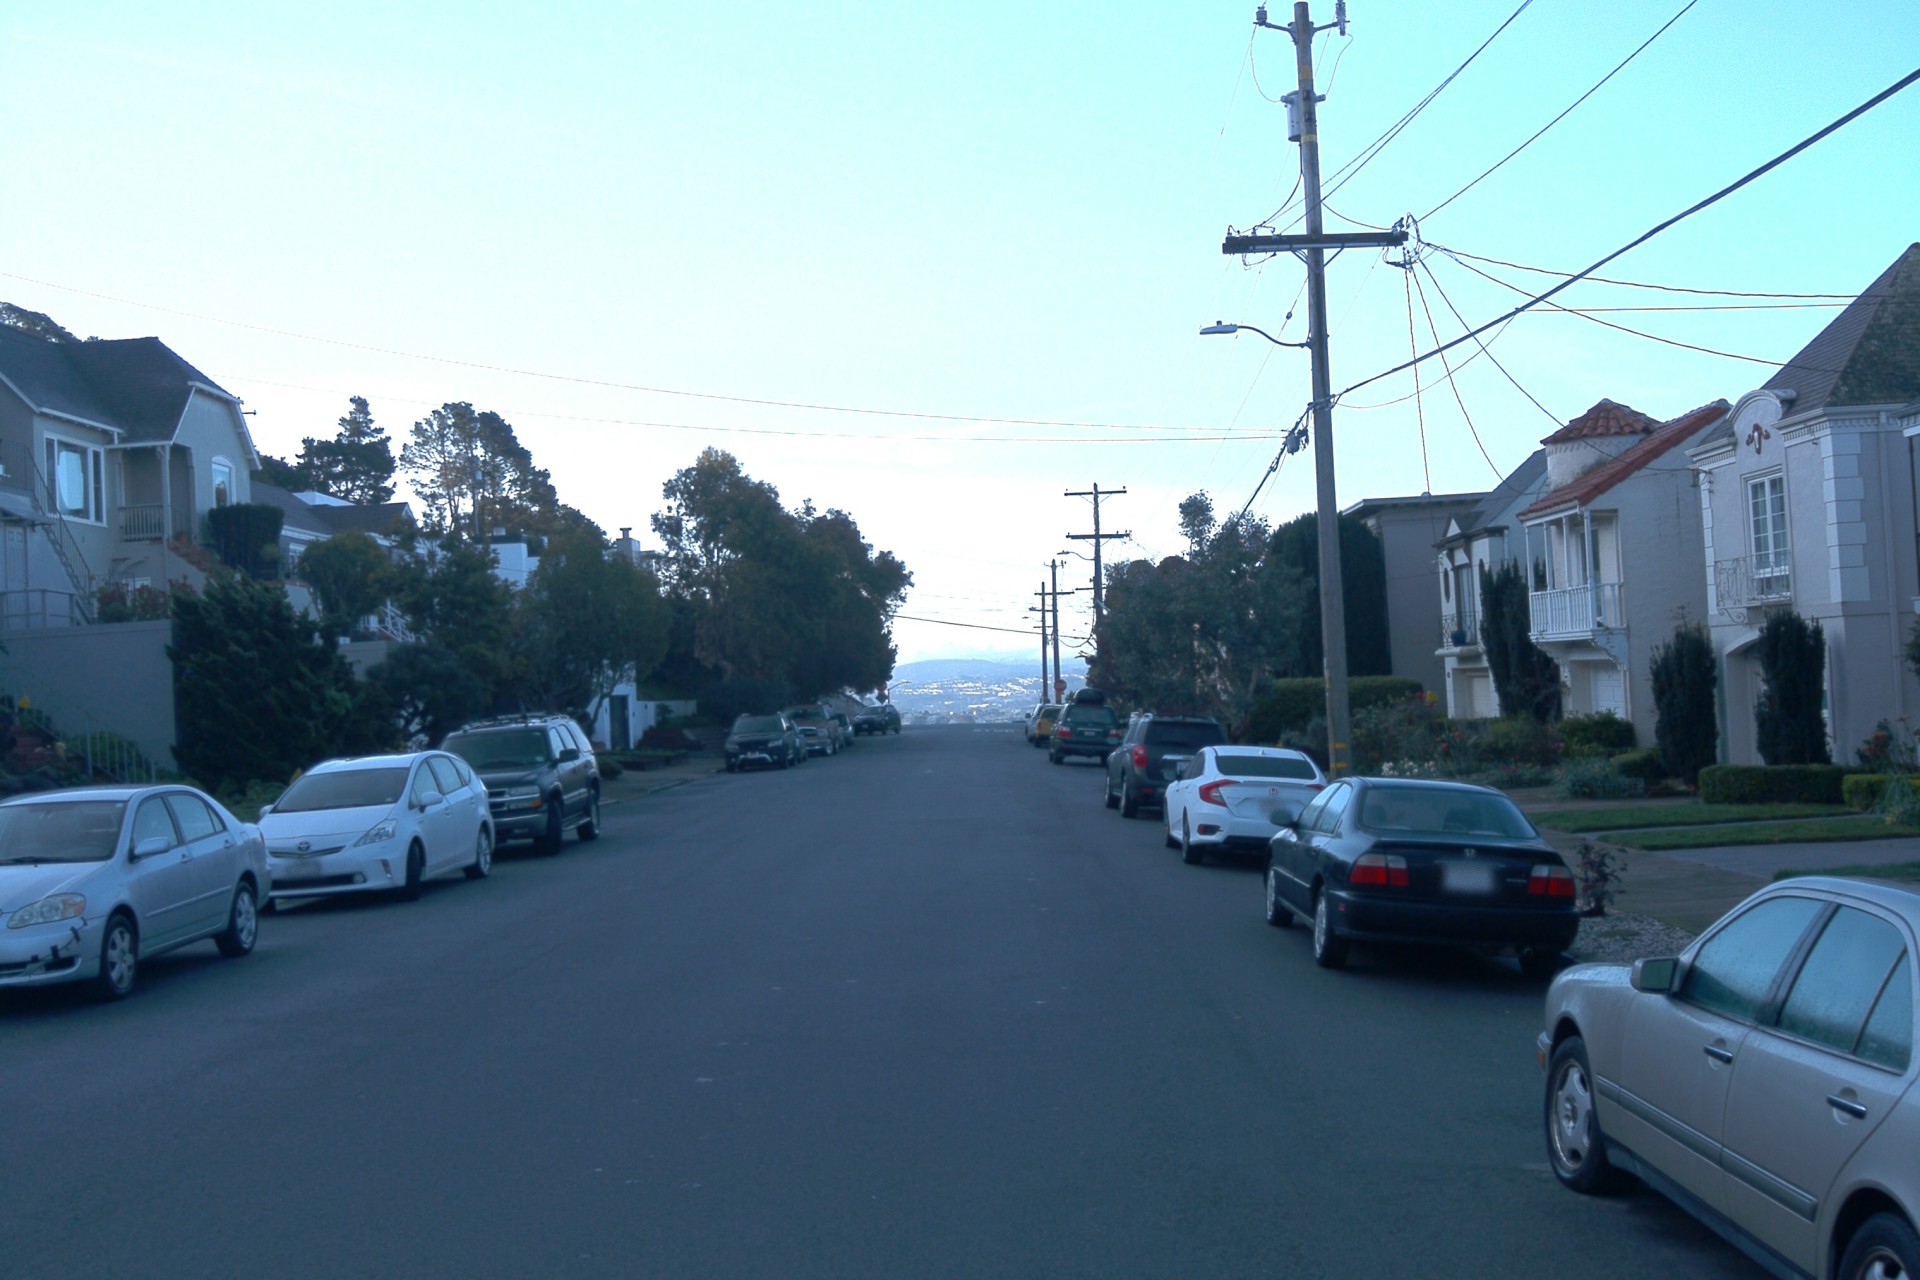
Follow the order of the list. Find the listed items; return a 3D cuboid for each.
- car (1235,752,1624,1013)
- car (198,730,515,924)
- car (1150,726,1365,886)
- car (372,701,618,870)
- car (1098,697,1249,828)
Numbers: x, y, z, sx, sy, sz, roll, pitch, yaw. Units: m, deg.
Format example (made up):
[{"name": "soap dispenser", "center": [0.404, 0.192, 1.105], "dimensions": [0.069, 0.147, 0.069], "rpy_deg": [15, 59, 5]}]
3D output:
[{"name": "car", "center": [3.504, 1.773, 16.340], "dimensions": [2.043, 1.510, 4.723], "rpy_deg": [0, 0, 0]}, {"name": "car", "center": [-6.518, 1.969, 22.863], "dimensions": [2.015, 1.720, 4.697], "rpy_deg": [0, 0, 2]}, {"name": "car", "center": [3.597, 1.985, 25.798], "dimensions": [2.038, 1.610, 4.834], "rpy_deg": [0, 0, 0]}, {"name": "car", "center": [-6.445, 1.956, 29.246], "dimensions": [2.366, 2.040, 5.058], "rpy_deg": [0, 0, 0]}, {"name": "car", "center": [3.543, 2.011, 35.041], "dimensions": [2.029, 1.960, 4.584], "rpy_deg": [0, 0, -1]}]
